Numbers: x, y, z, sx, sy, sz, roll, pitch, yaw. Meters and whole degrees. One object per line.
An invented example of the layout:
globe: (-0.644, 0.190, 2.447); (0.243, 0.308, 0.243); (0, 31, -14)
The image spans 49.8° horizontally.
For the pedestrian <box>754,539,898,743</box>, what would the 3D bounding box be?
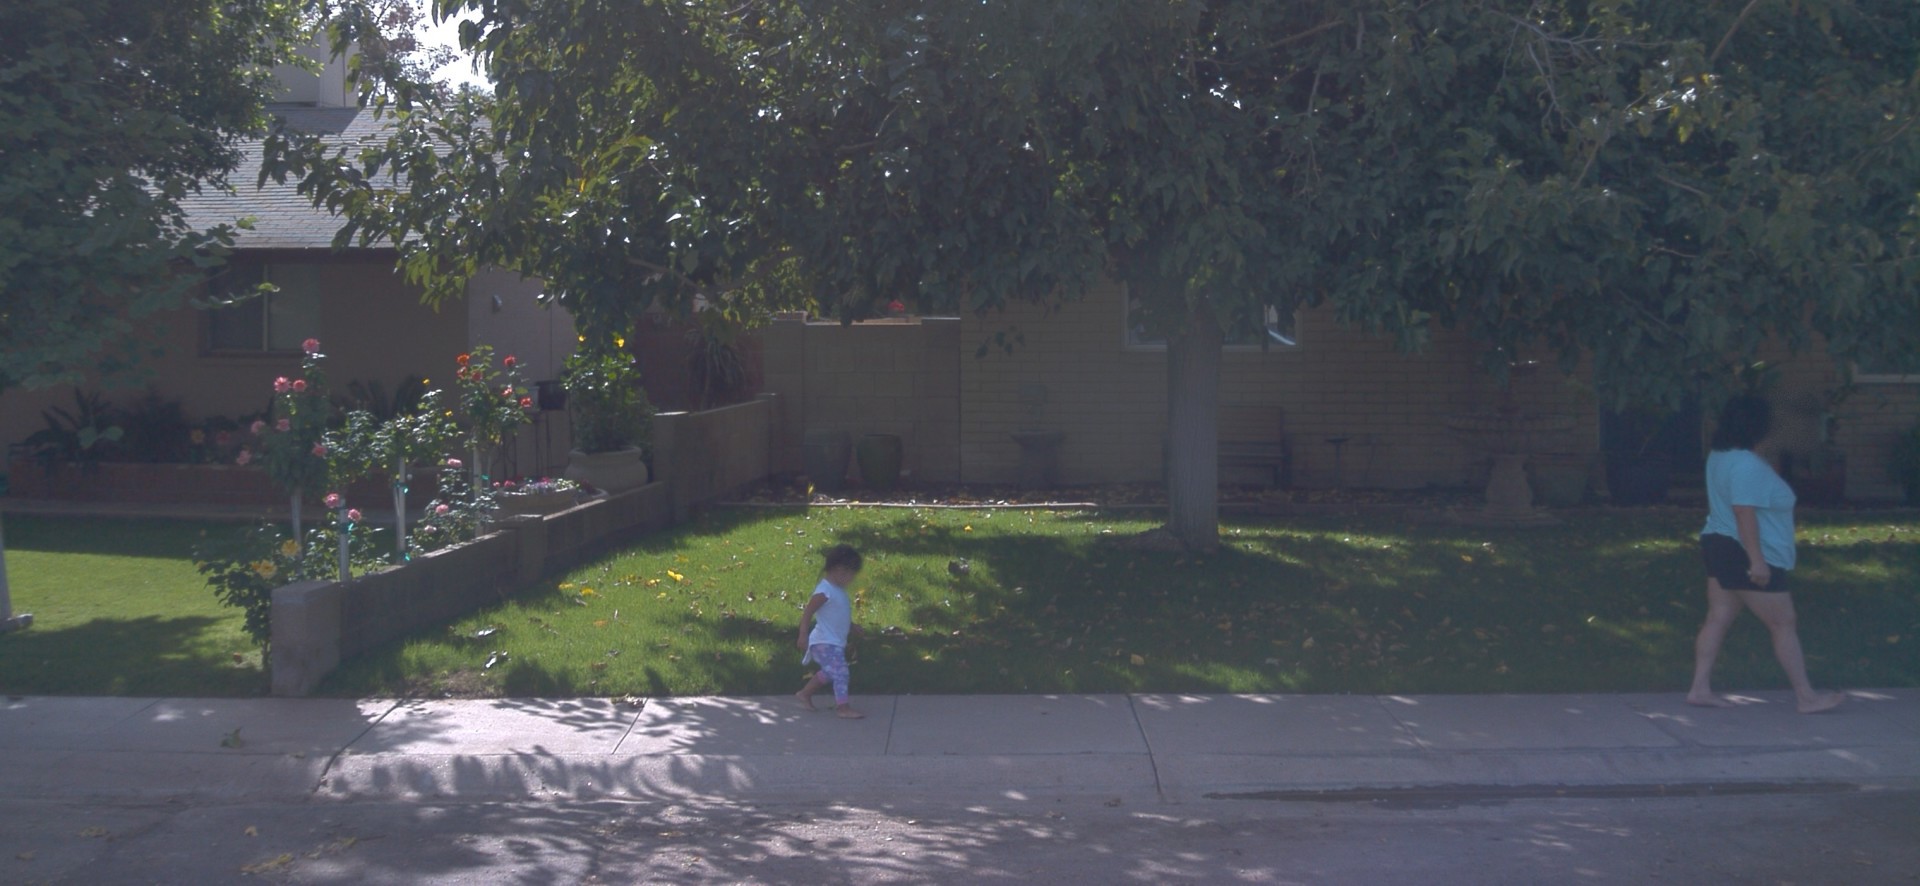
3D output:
pedestrian: (-0.643, 0.948, 10.085); (0.619, 0.869, 0.593); (0, 2, 4)

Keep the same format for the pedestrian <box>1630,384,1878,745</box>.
pedestrian: (3.834, 0.549, 10.069); (0.853, 1.599, 0.973); (0, 2, 2)
